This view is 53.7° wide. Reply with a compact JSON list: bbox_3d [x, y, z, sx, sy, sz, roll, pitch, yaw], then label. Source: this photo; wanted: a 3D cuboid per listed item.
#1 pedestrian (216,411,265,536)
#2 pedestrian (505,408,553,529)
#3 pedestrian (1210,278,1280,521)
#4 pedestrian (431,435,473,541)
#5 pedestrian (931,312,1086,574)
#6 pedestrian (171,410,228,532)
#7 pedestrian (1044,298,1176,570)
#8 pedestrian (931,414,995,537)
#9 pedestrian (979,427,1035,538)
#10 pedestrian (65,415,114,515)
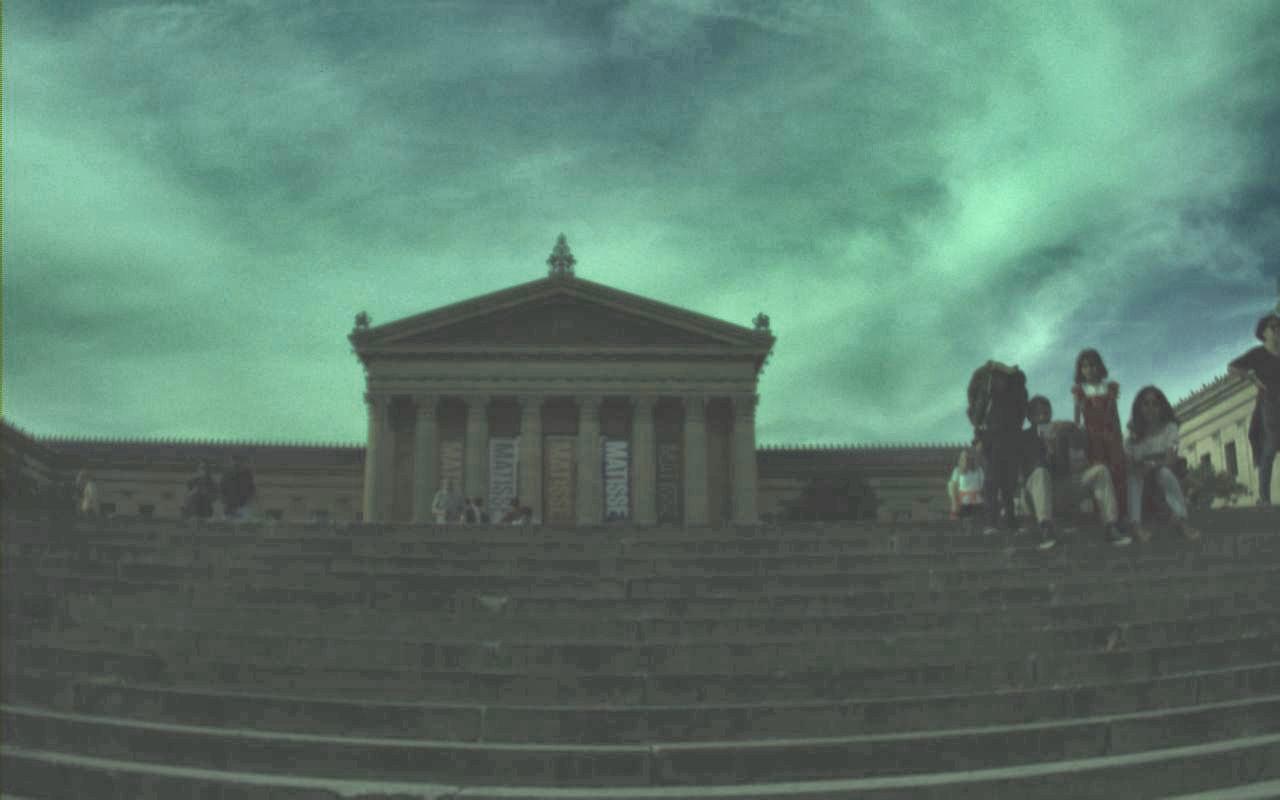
[{"bbox_3d":[-5.970,1.106,17.926,0.704,1.802,0.706,0,0,-21],"label":"pedestrian"},{"bbox_3d":[-1.664,1.010,18.789,0.695,1.764,0.672,0,0,-3],"label":"pedestrian"},{"bbox_3d":[4.959,0.014,8.938,0.753,1.837,0.763,1,0,43],"label":"pedestrian"},{"bbox_3d":[-3.315,1.554,21.998,0.649,1.812,0.655,0,0,0],"label":"pedestrian"},{"bbox_3d":[2.407,0.270,7.982,0.779,1.628,0.702,0,0,-10],"label":"pedestrian"},{"bbox_3d":[-6.632,1.079,17.907,0.681,1.776,0.693,0,0,-3],"label":"pedestrian"},{"bbox_3d":[3.106,0.215,7.807,0.660,1.698,0.717,1,0,43],"label":"pedestrian"},{"bbox_3d":[4.948,1.153,18.838,0.687,1.816,0.678,0,0,-38],"label":"pedestrian"},{"bbox_3d":[6.000,1.358,19.927,0.638,1.744,0.642,0,0,-36],"label":"pedestrian"},{"bbox_3d":[-10.560,1.286,22.012,0.690,1.857,0.705,1,0,31],"label":"pedestrian"}]
